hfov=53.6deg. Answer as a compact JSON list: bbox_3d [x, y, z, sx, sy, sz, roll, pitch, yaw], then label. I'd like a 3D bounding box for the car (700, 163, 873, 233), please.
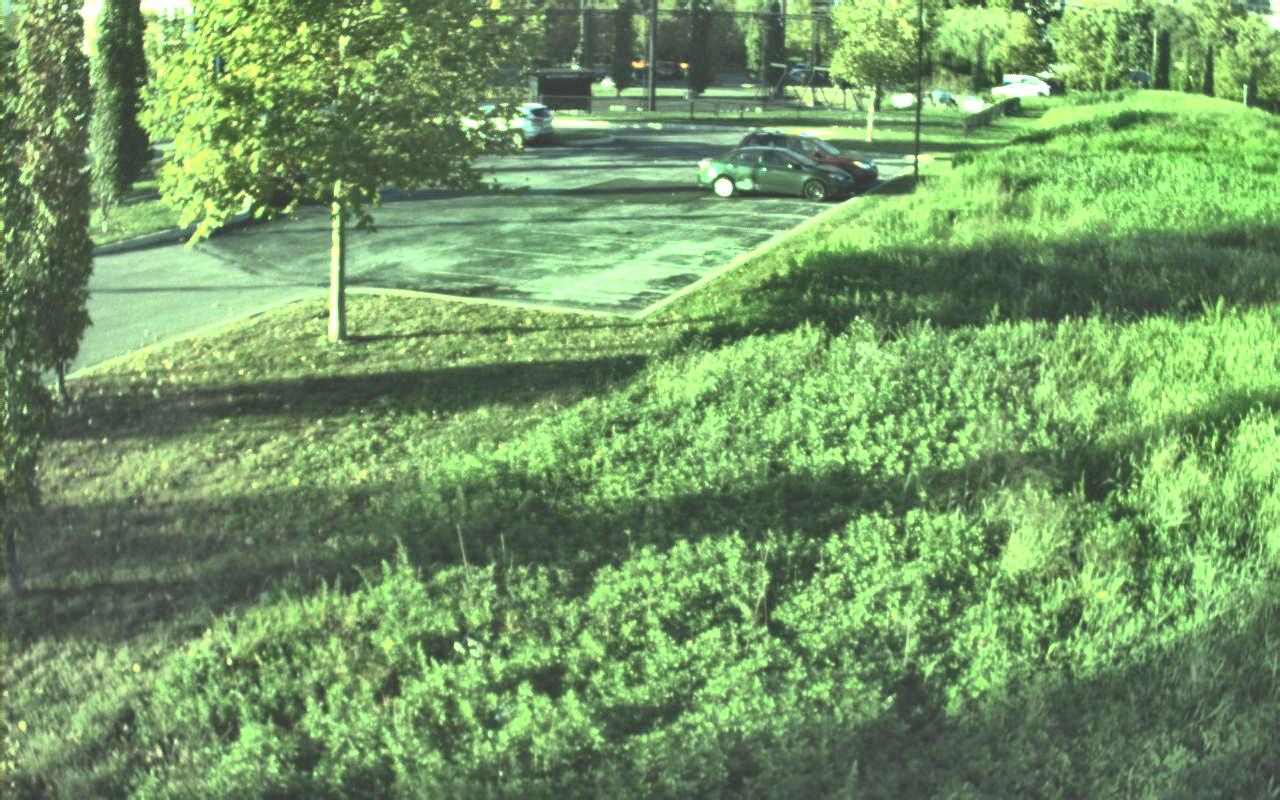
[{"bbox_3d":[4.245,-5.860,36.041,4.637,1.646,2.014,5,16,22],"label":"car"}]

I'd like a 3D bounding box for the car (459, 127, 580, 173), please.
[{"bbox_3d":[-4.888,-10.158,50.584,4.539,1.654,2.006,2,15,11],"label":"car"}]

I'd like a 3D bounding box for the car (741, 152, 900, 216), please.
[{"bbox_3d":[5.544,-6.649,38.126,4.488,1.605,1.989,7,17,27],"label":"car"}]
